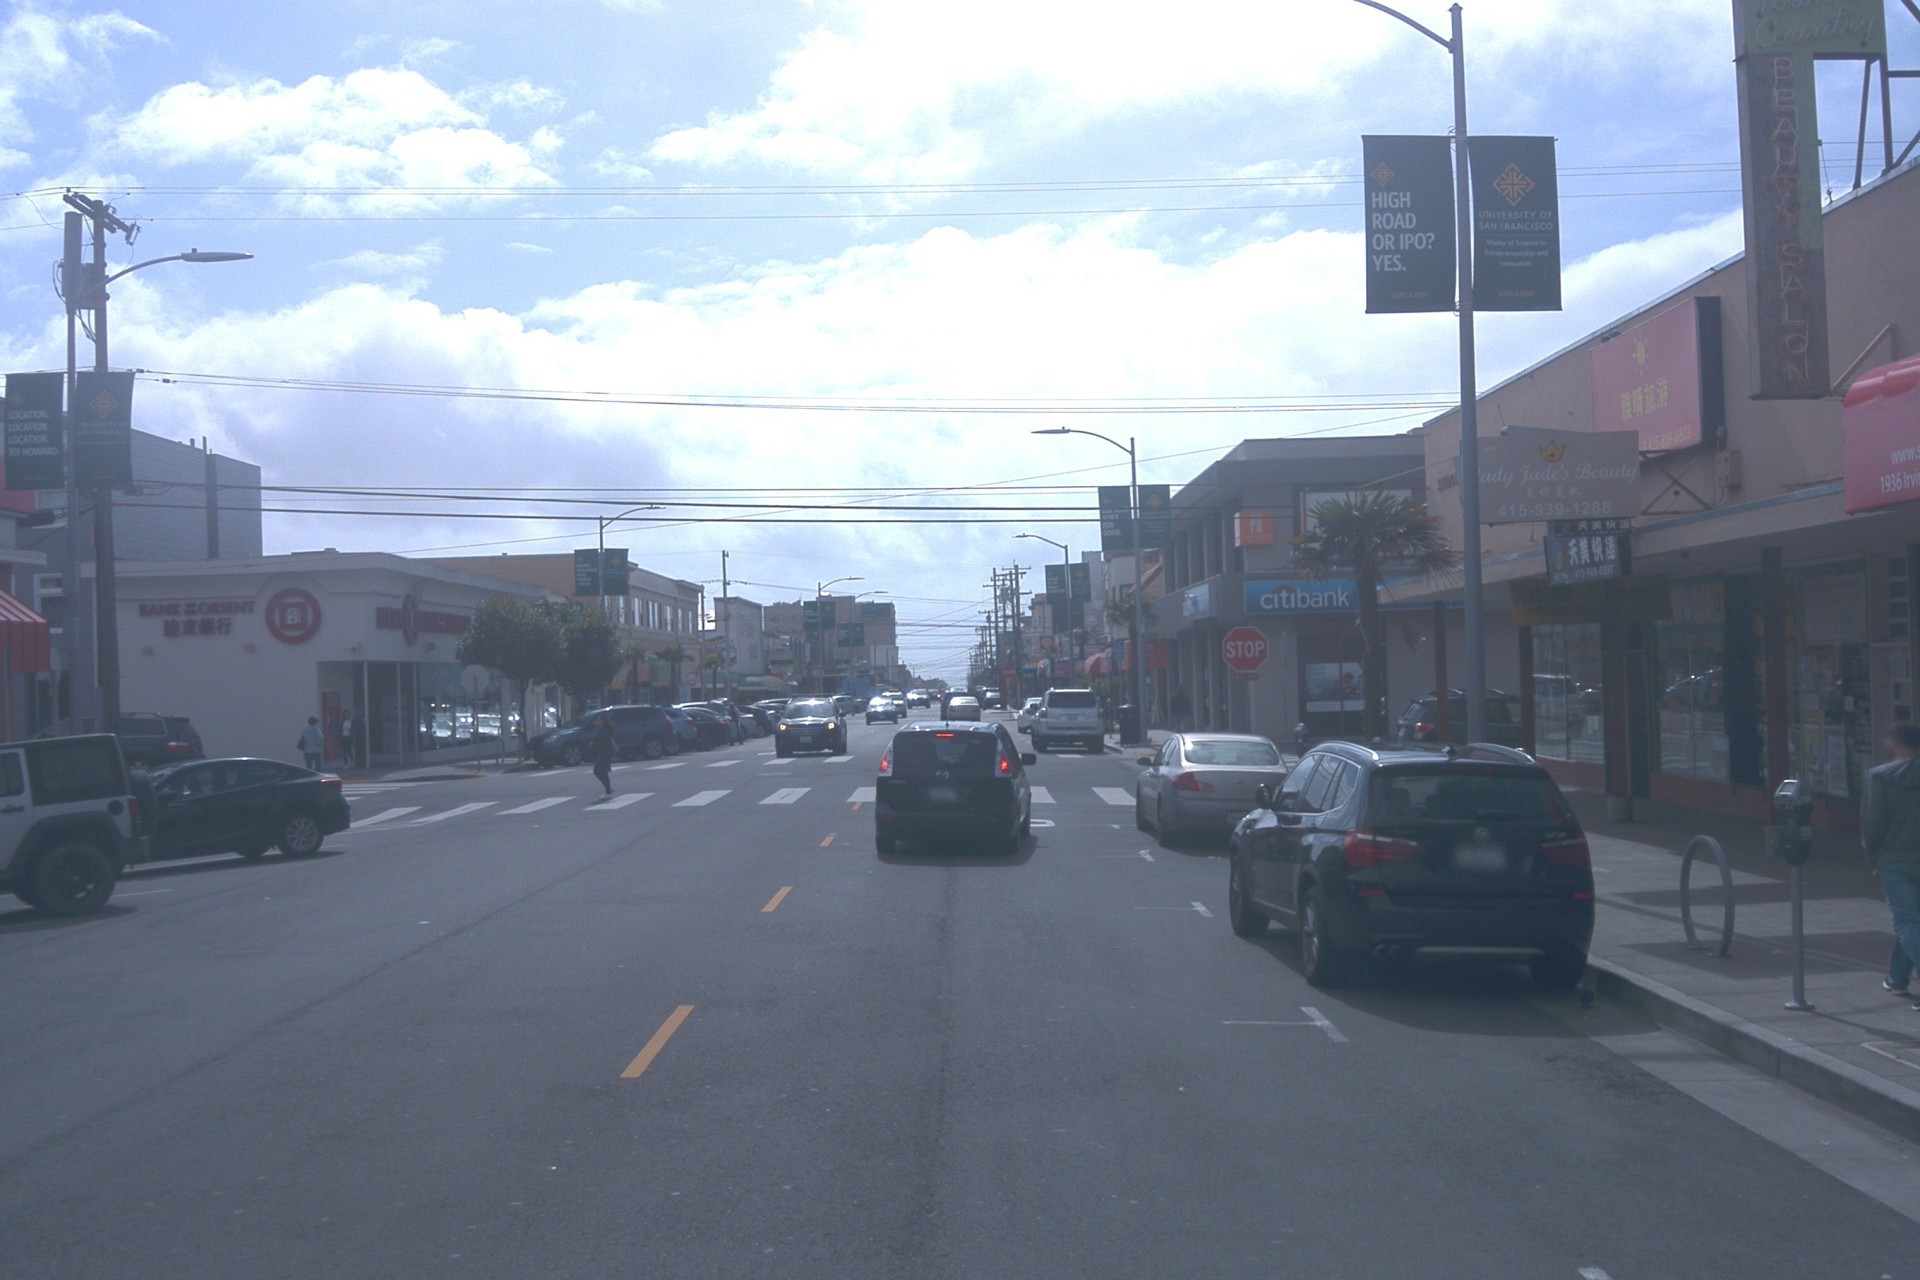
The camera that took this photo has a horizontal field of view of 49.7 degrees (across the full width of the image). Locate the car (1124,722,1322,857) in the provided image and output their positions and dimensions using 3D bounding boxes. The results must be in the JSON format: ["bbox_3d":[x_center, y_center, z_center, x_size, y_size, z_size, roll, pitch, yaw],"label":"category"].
[{"bbox_3d":[3.406,1.921,27.761,1.988,1.532,4.724,0,-1,-1],"label":"car"}]

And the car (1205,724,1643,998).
[{"bbox_3d":[3.266,1.512,15.694,2.061,1.620,4.747,0,-1,-3],"label":"car"}]

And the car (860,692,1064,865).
[{"bbox_3d":[0.126,1.674,26.528,2.096,1.972,4.571,0,-1,7],"label":"car"}]
